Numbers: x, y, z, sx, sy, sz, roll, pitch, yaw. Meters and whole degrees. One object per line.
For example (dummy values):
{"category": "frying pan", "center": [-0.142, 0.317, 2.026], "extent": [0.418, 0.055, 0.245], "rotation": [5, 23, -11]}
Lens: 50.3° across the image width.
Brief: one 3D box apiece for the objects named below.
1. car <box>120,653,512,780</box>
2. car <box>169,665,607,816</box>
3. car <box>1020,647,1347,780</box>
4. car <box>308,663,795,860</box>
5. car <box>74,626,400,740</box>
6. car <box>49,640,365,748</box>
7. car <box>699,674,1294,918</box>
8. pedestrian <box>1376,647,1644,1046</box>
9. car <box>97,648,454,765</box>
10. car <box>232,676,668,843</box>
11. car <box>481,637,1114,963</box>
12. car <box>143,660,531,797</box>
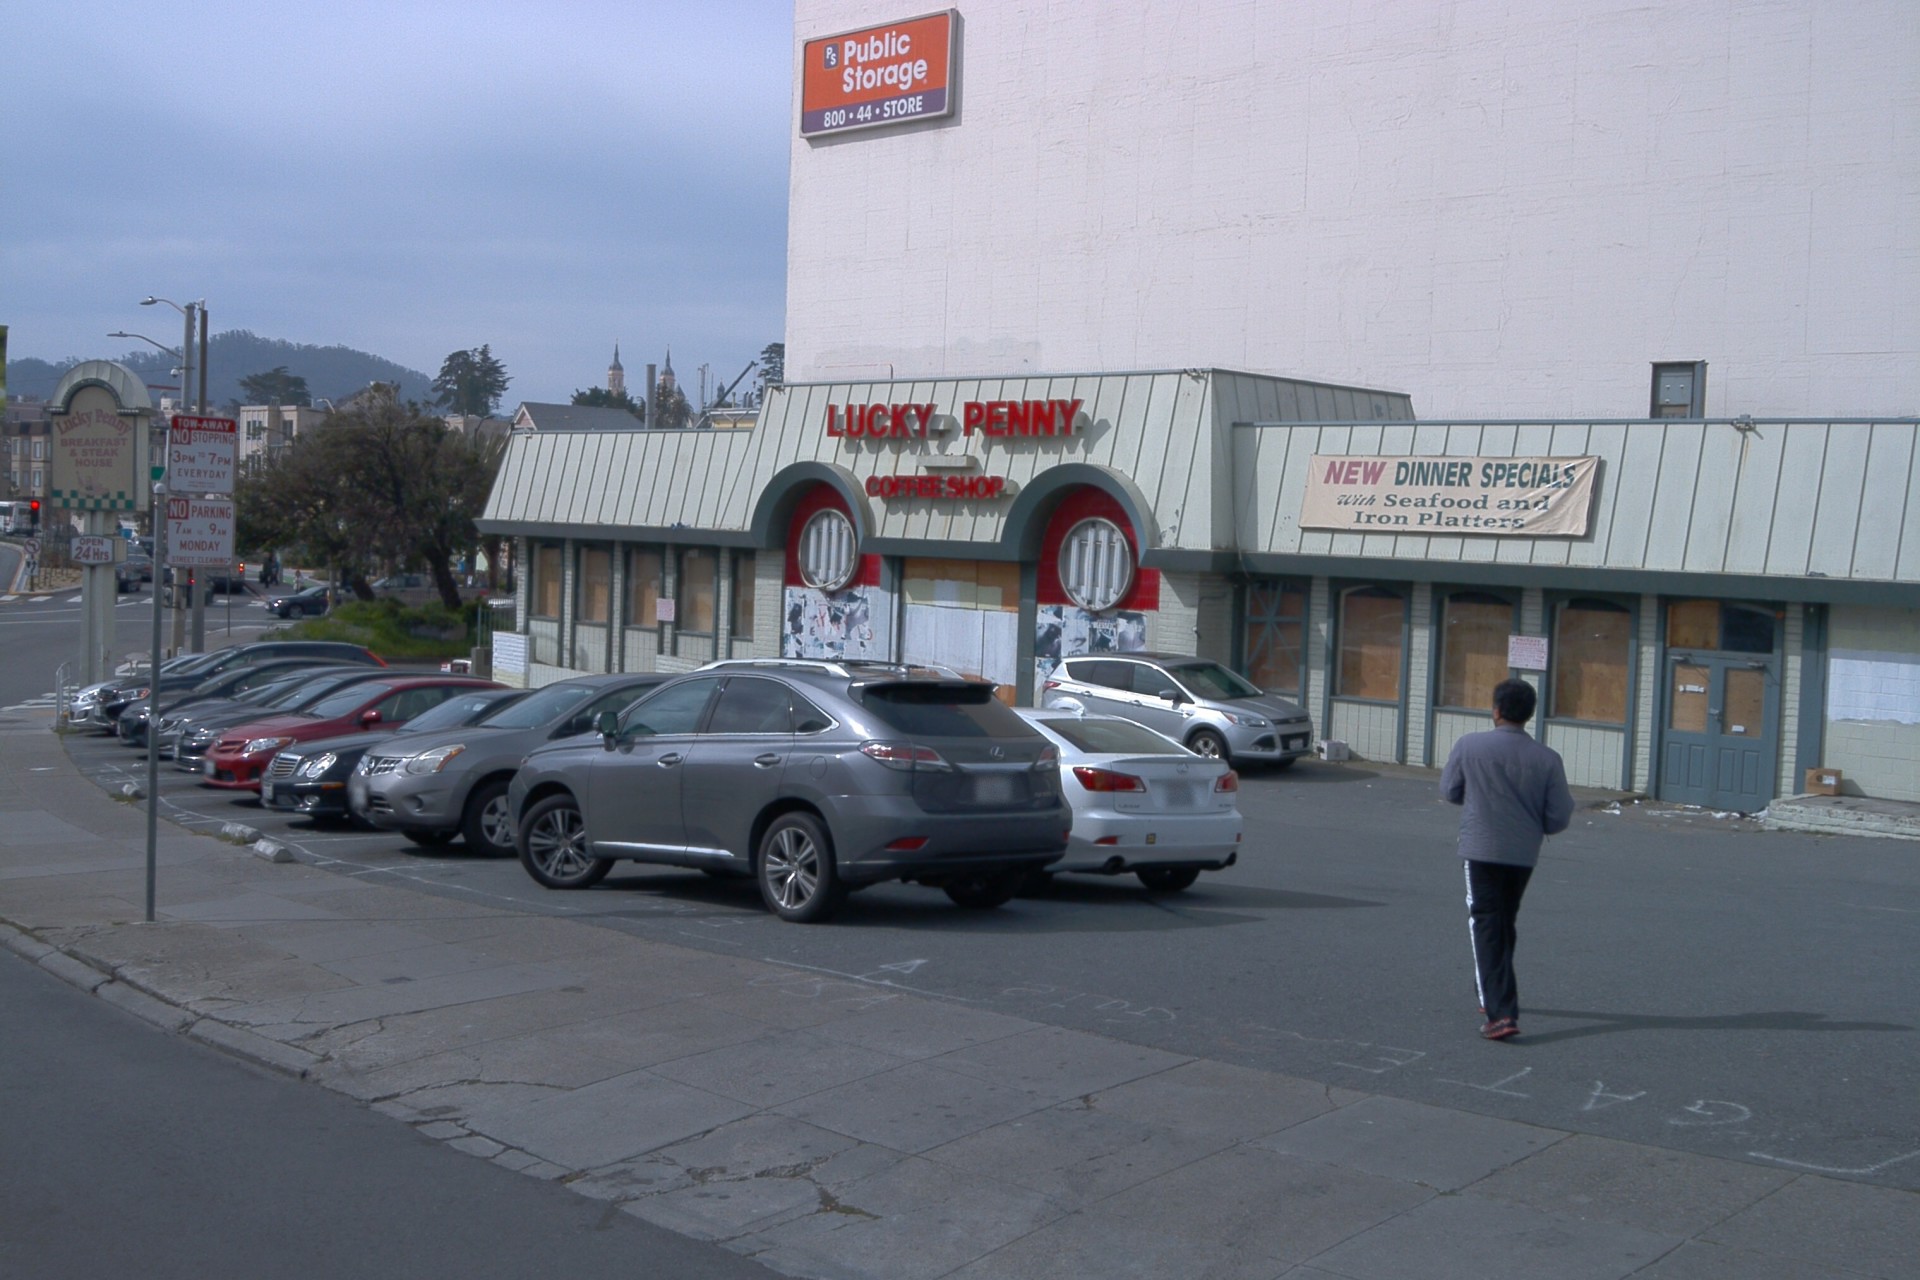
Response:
{"category": "car", "center": [-8.982, 1.001, 28.781], "extent": [4.736, 1.590, 2.241], "rotation": [0, 0, -44]}
{"category": "car", "center": [-6.657, 1.101, 24.116], "extent": [4.484, 1.550, 2.134], "rotation": [0, 0, -44]}
{"category": "car", "center": [3.289, 1.029, 30.718], "extent": [2.134, 1.790, 4.557], "rotation": [0, 0, -44]}
{"category": "car", "center": [-3.714, 1.031, 19.045], "extent": [1.975, 1.570, 4.019], "rotation": [1, 0, 44]}
{"category": "car", "center": [-11.716, 0.655, 33.333], "extent": [4.561, 1.710, 2.059], "rotation": [0, 0, -43]}
{"category": "car", "center": [-13.135, 0.893, 35.855], "extent": [4.757, 1.740, 2.072], "rotation": [0, 0, -43]}
{"category": "car", "center": [0.159, 1.126, 16.691], "extent": [2.088, 1.580, 4.738], "rotation": [0, 0, -44]}
{"category": "pedestrian", "center": [2.531, 0.912, 9.551], "extent": [0.943, 1.744, 1.076], "rotation": [1, 0, 0]}
{"category": "car", "center": [-10.336, 0.946, 31.104], "extent": [4.651, 1.610, 2.192], "rotation": [0, 0, -43]}
{"category": "car", "center": [-5.264, 1.163, 21.426], "extent": [4.029, 1.500, 1.869], "rotation": [0, 0, -45]}
{"category": "car", "center": [-1.292, 0.963, 14.599], "extent": [2.065, 1.920, 4.493], "rotation": [0, 0, -45]}
{"category": "car", "center": [-7.973, 1.070, 26.409], "extent": [4.343, 1.580, 1.994], "rotation": [0, 0, -43]}
